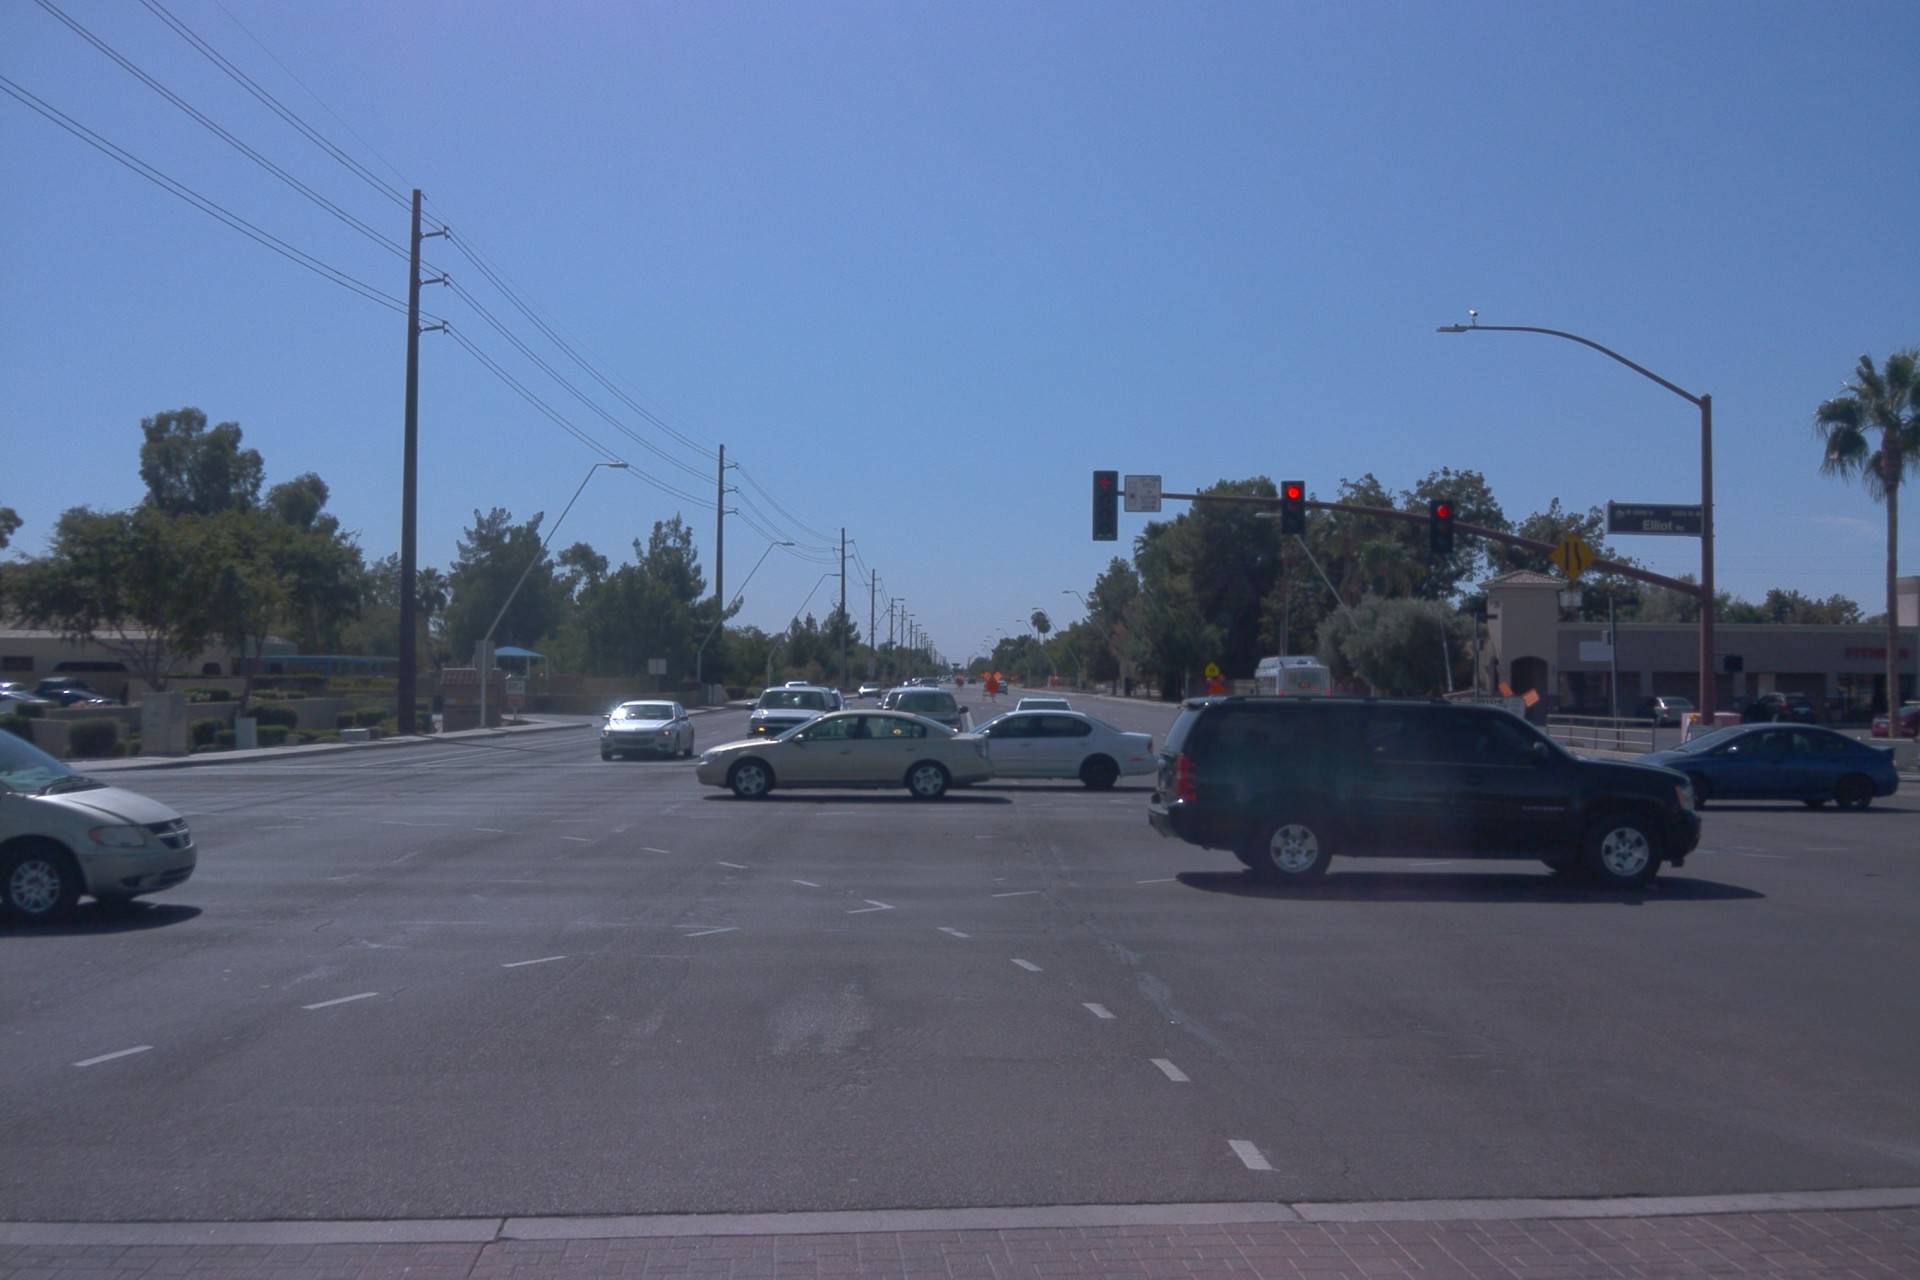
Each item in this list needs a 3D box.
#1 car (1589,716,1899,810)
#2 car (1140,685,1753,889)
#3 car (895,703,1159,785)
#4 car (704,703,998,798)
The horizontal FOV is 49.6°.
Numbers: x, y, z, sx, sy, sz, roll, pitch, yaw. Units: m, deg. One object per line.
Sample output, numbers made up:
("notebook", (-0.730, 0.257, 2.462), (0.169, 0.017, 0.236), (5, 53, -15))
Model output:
("car", (12.898, 2.008, 34.375), (4.385, 1.470, 1.919), (0, -1, 0))
("car", (4.799, 1.443, 21.222), (5.684, 1.950, 2.314), (0, -1, -1))
("car", (1.184, 1.871, 37.899), (4.692, 1.430, 2.015), (0, -1, 0))
("car", (-1.763, 1.796, 34.284), (4.697, 1.490, 1.982), (0, -1, -1))
